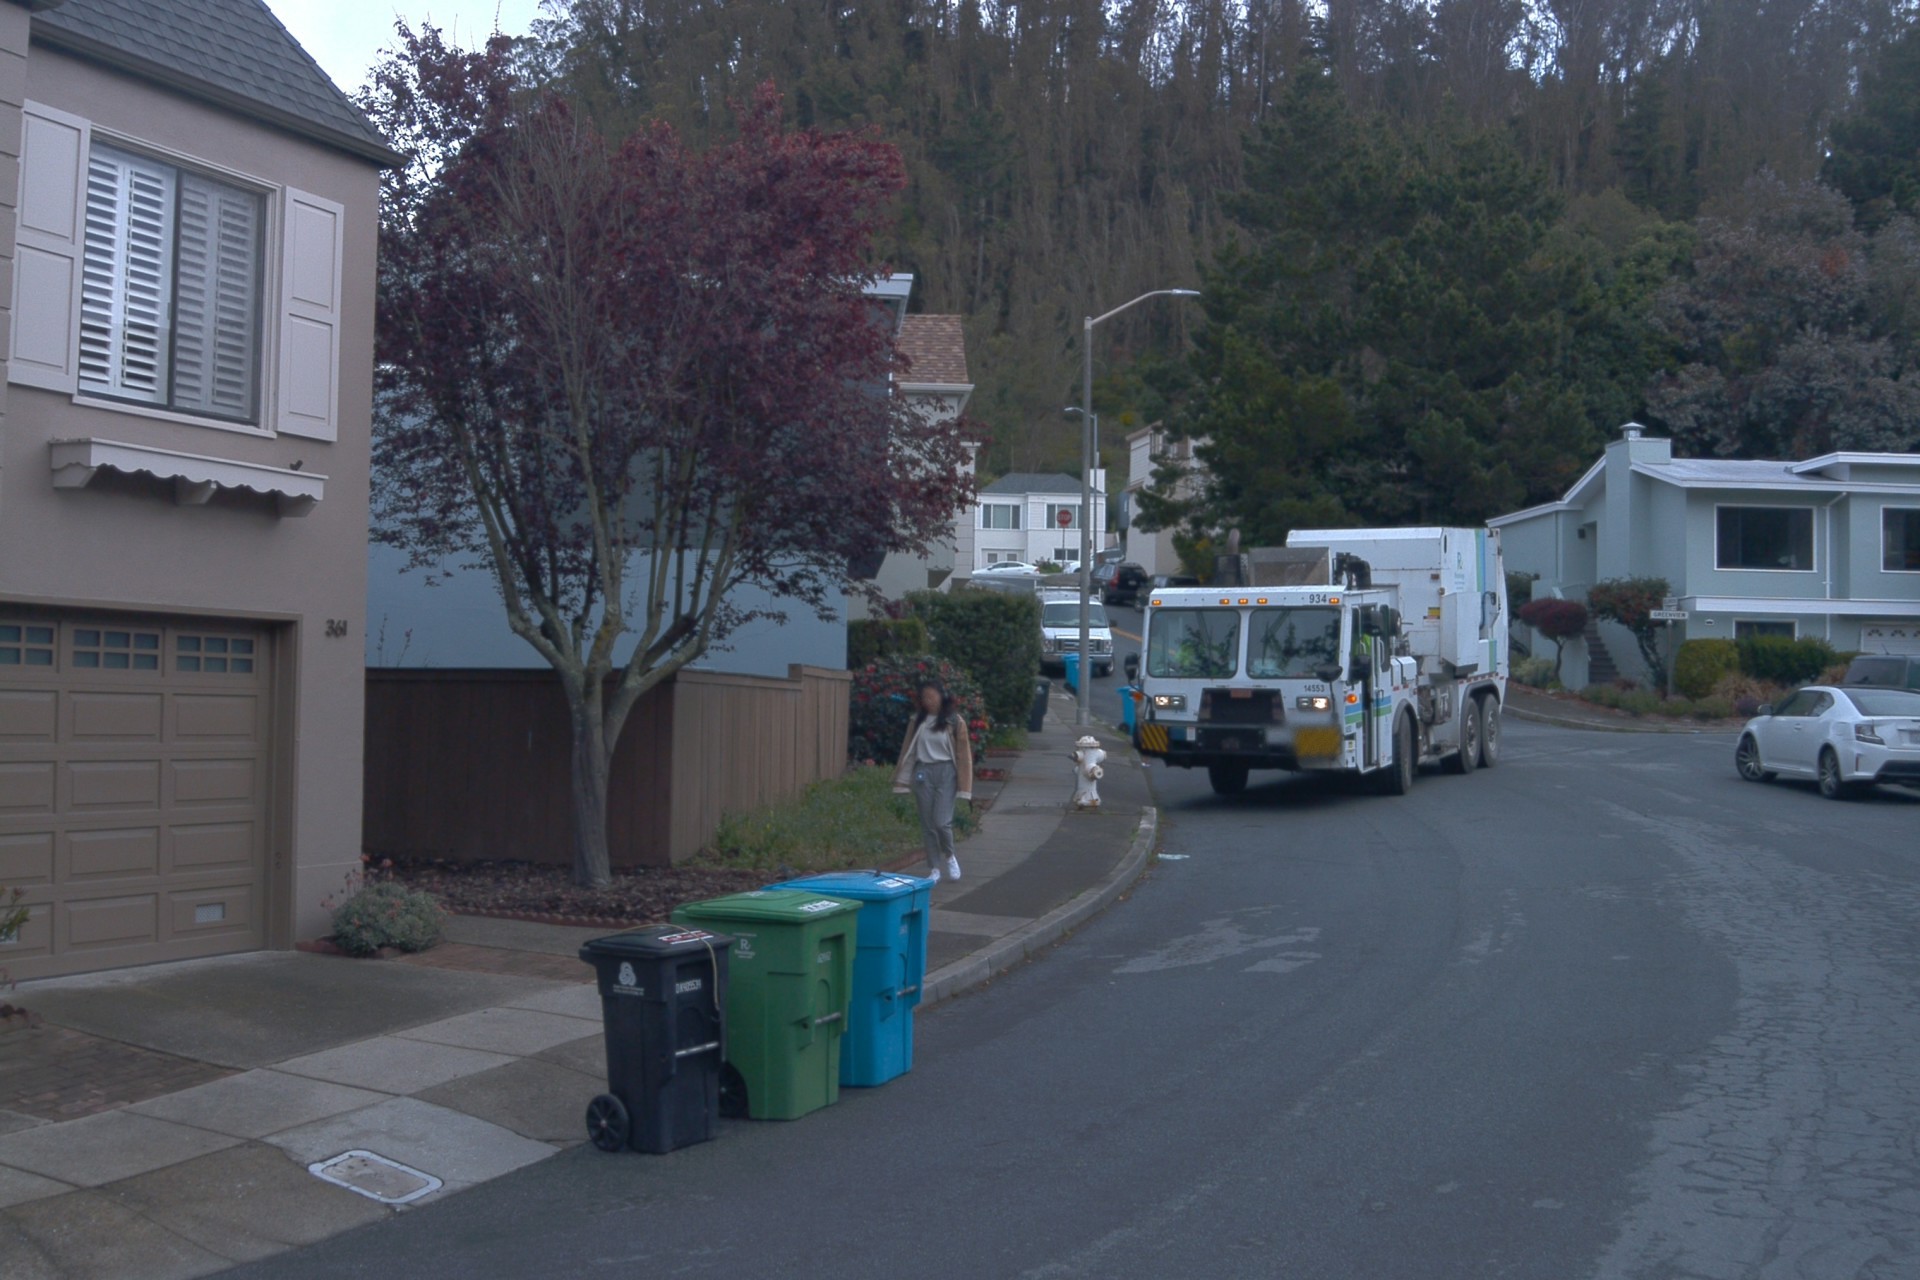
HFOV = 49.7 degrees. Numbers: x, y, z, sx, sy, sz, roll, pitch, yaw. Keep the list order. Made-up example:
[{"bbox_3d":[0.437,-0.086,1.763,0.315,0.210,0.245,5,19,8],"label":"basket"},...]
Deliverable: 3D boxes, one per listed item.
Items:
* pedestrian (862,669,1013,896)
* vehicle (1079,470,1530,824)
[{"bbox_3d":[-0.169,1.114,16.666,0.949,1.740,1.004,0,0,16],"label":"pedestrian"},{"bbox_3d":[5.186,0.050,28.477,3.288,3.920,10.718,0,0,25],"label":"vehicle"}]
